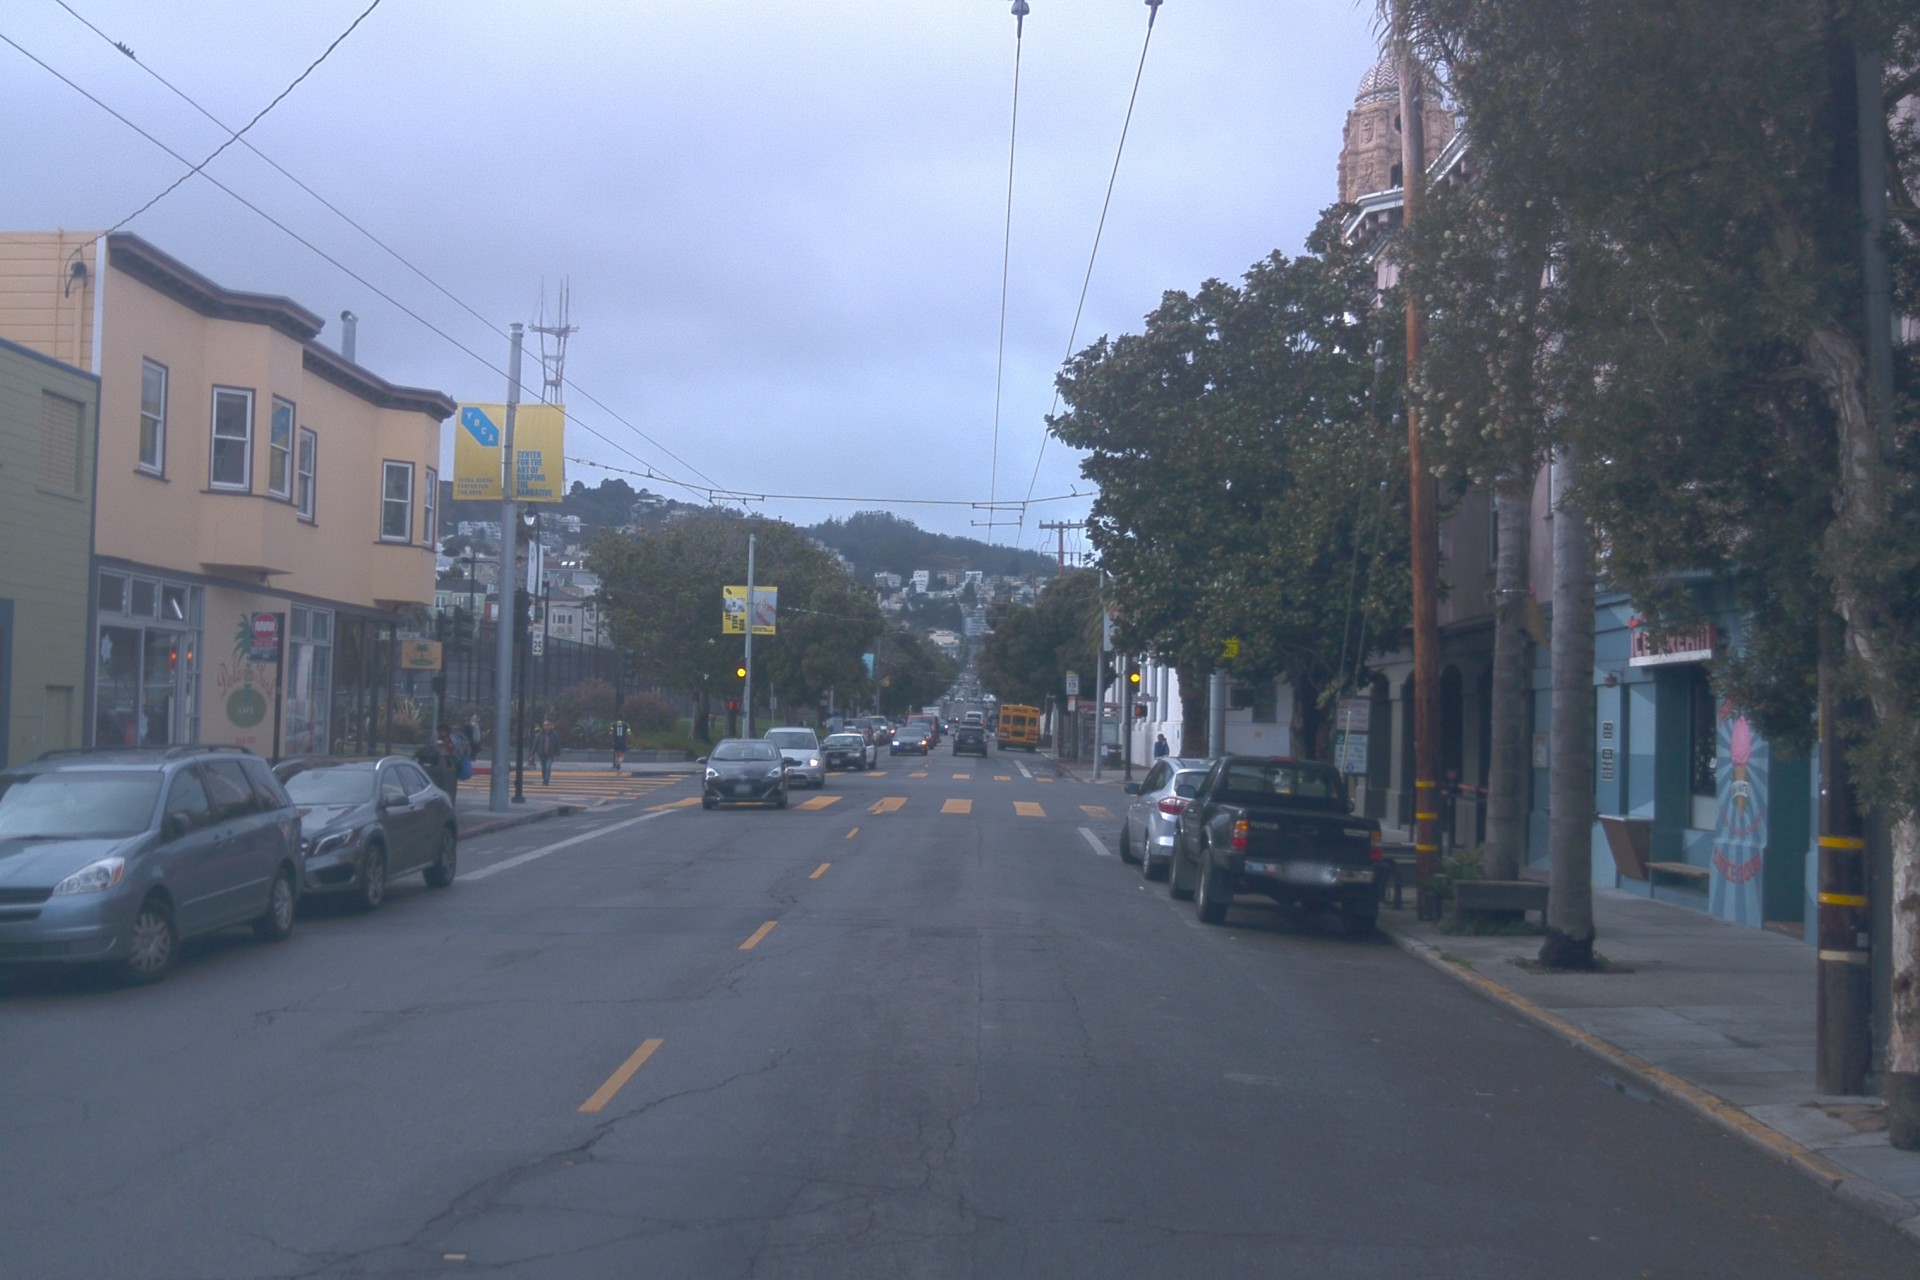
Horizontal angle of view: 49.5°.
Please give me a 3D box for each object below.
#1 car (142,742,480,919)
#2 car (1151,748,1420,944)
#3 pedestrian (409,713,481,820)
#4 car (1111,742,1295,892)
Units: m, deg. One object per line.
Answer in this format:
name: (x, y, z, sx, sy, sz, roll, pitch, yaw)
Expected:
car: (-6.731, 1.932, 22.196, 2.030, 1.550, 4.487, 1, -2, 2)
car: (3.349, 2.100, 22.423, 2.066, 1.730, 4.817, 1, -2, -1)
pedestrian: (-8.557, 2.095, 34.640, 0.962, 1.740, 0.827, 1, -1, -1)
car: (3.153, 2.289, 27.811, 1.905, 1.720, 4.089, 1, -2, -1)
